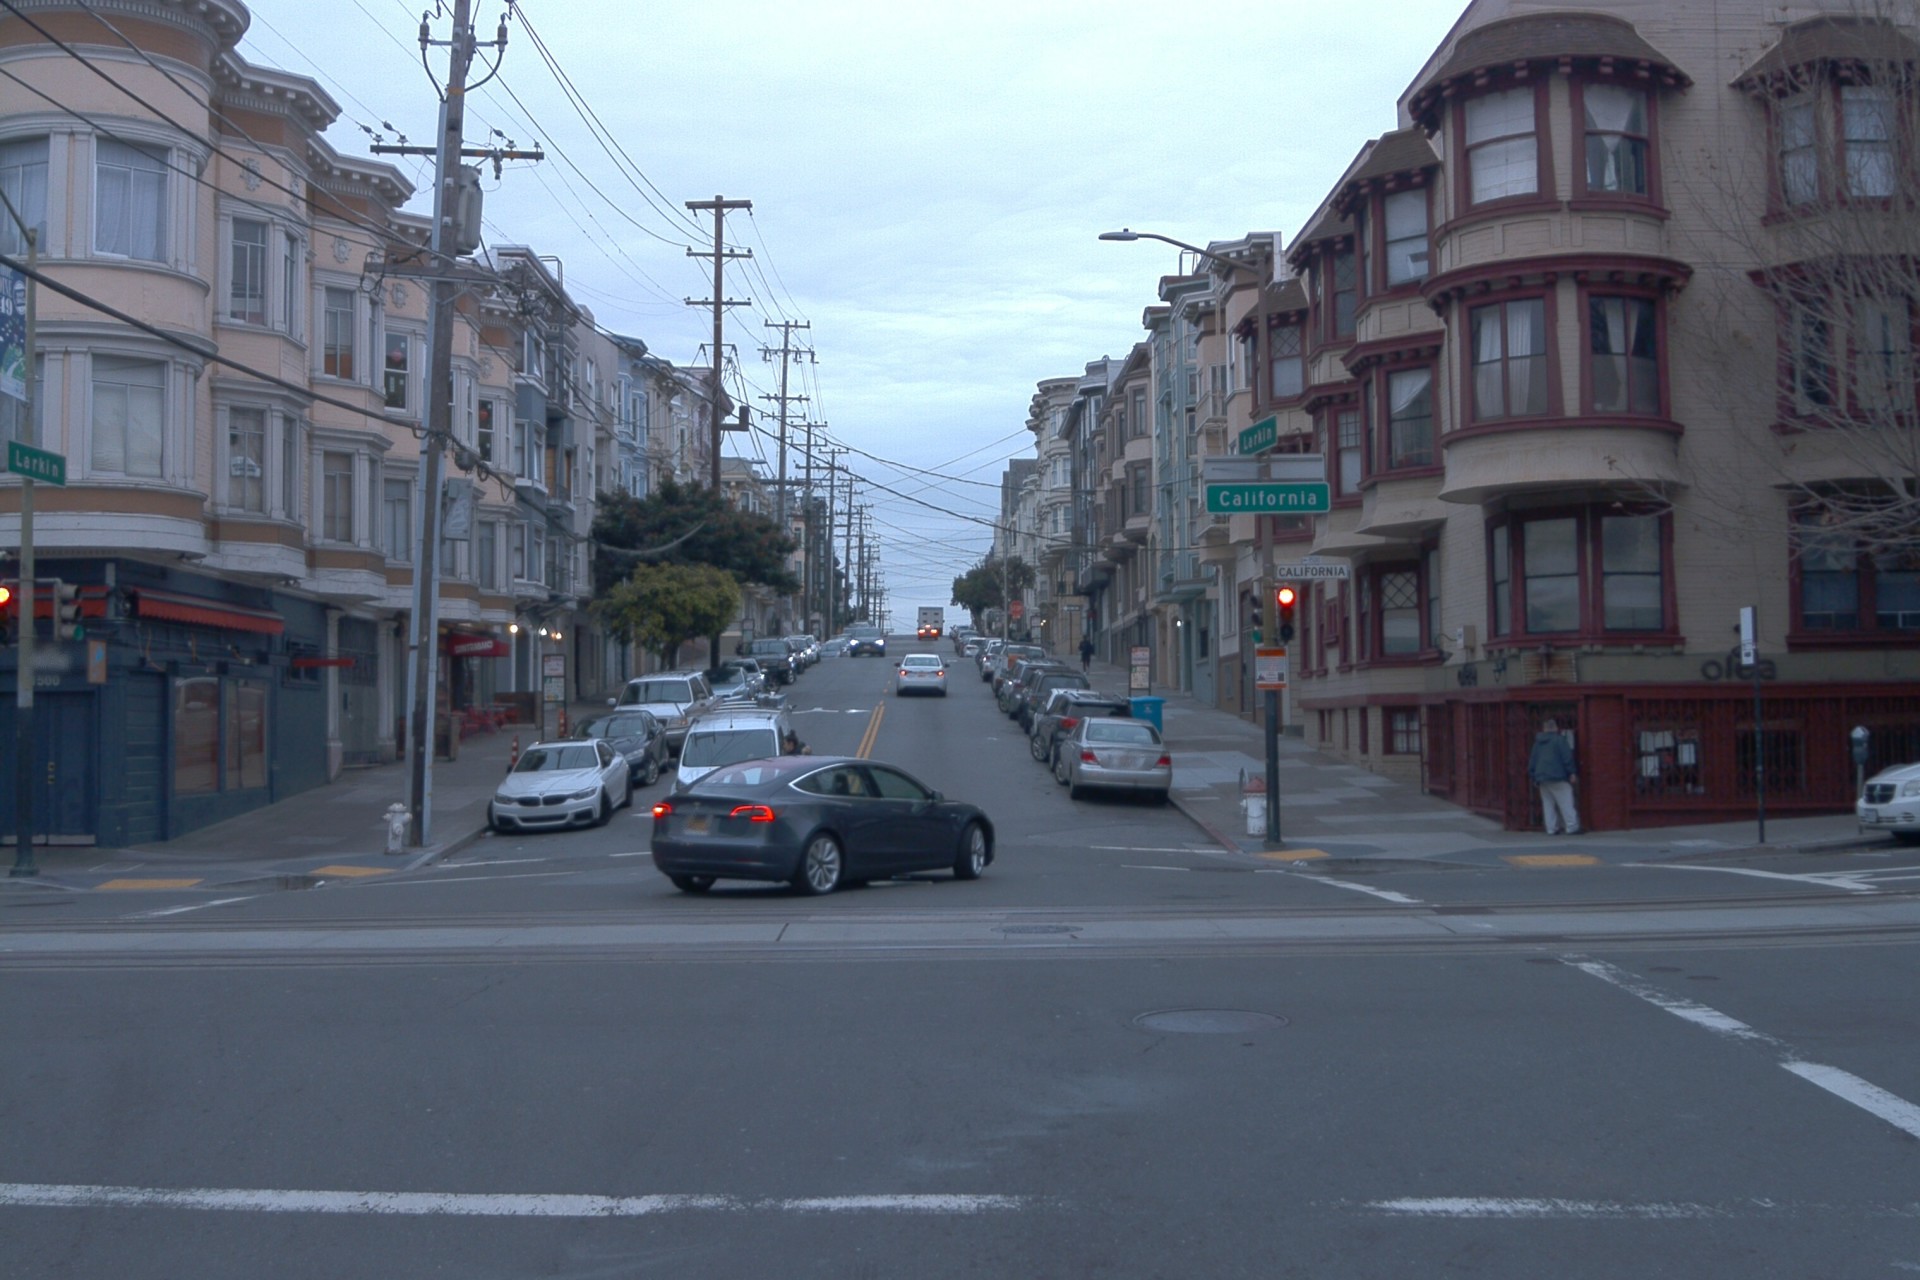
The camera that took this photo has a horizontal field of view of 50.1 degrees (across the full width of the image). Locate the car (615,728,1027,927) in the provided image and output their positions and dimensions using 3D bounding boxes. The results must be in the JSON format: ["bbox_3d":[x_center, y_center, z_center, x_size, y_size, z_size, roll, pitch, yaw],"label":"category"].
[{"bbox_3d":[-1.378,1.931,22.482,2.074,1.630,4.698,0,1,33],"label":"car"}]

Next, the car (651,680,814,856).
[{"bbox_3d":[-3.621,1.988,33.587,2.196,2.490,4.690,0,1,-1],"label":"car"}]

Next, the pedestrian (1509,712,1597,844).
[{"bbox_3d":[8.727,2.010,30.267,0.902,1.830,0.919,-1,1,-44],"label":"pedestrian"}]

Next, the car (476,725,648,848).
[{"bbox_3d":[-6.813,2.476,35.707,2.150,1.707,4.680,0,1,-1],"label":"car"}]

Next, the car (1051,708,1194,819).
[{"bbox_3d":[2.936,2.236,38.183,2.108,1.700,4.470,0,1,-2],"label":"car"}]
